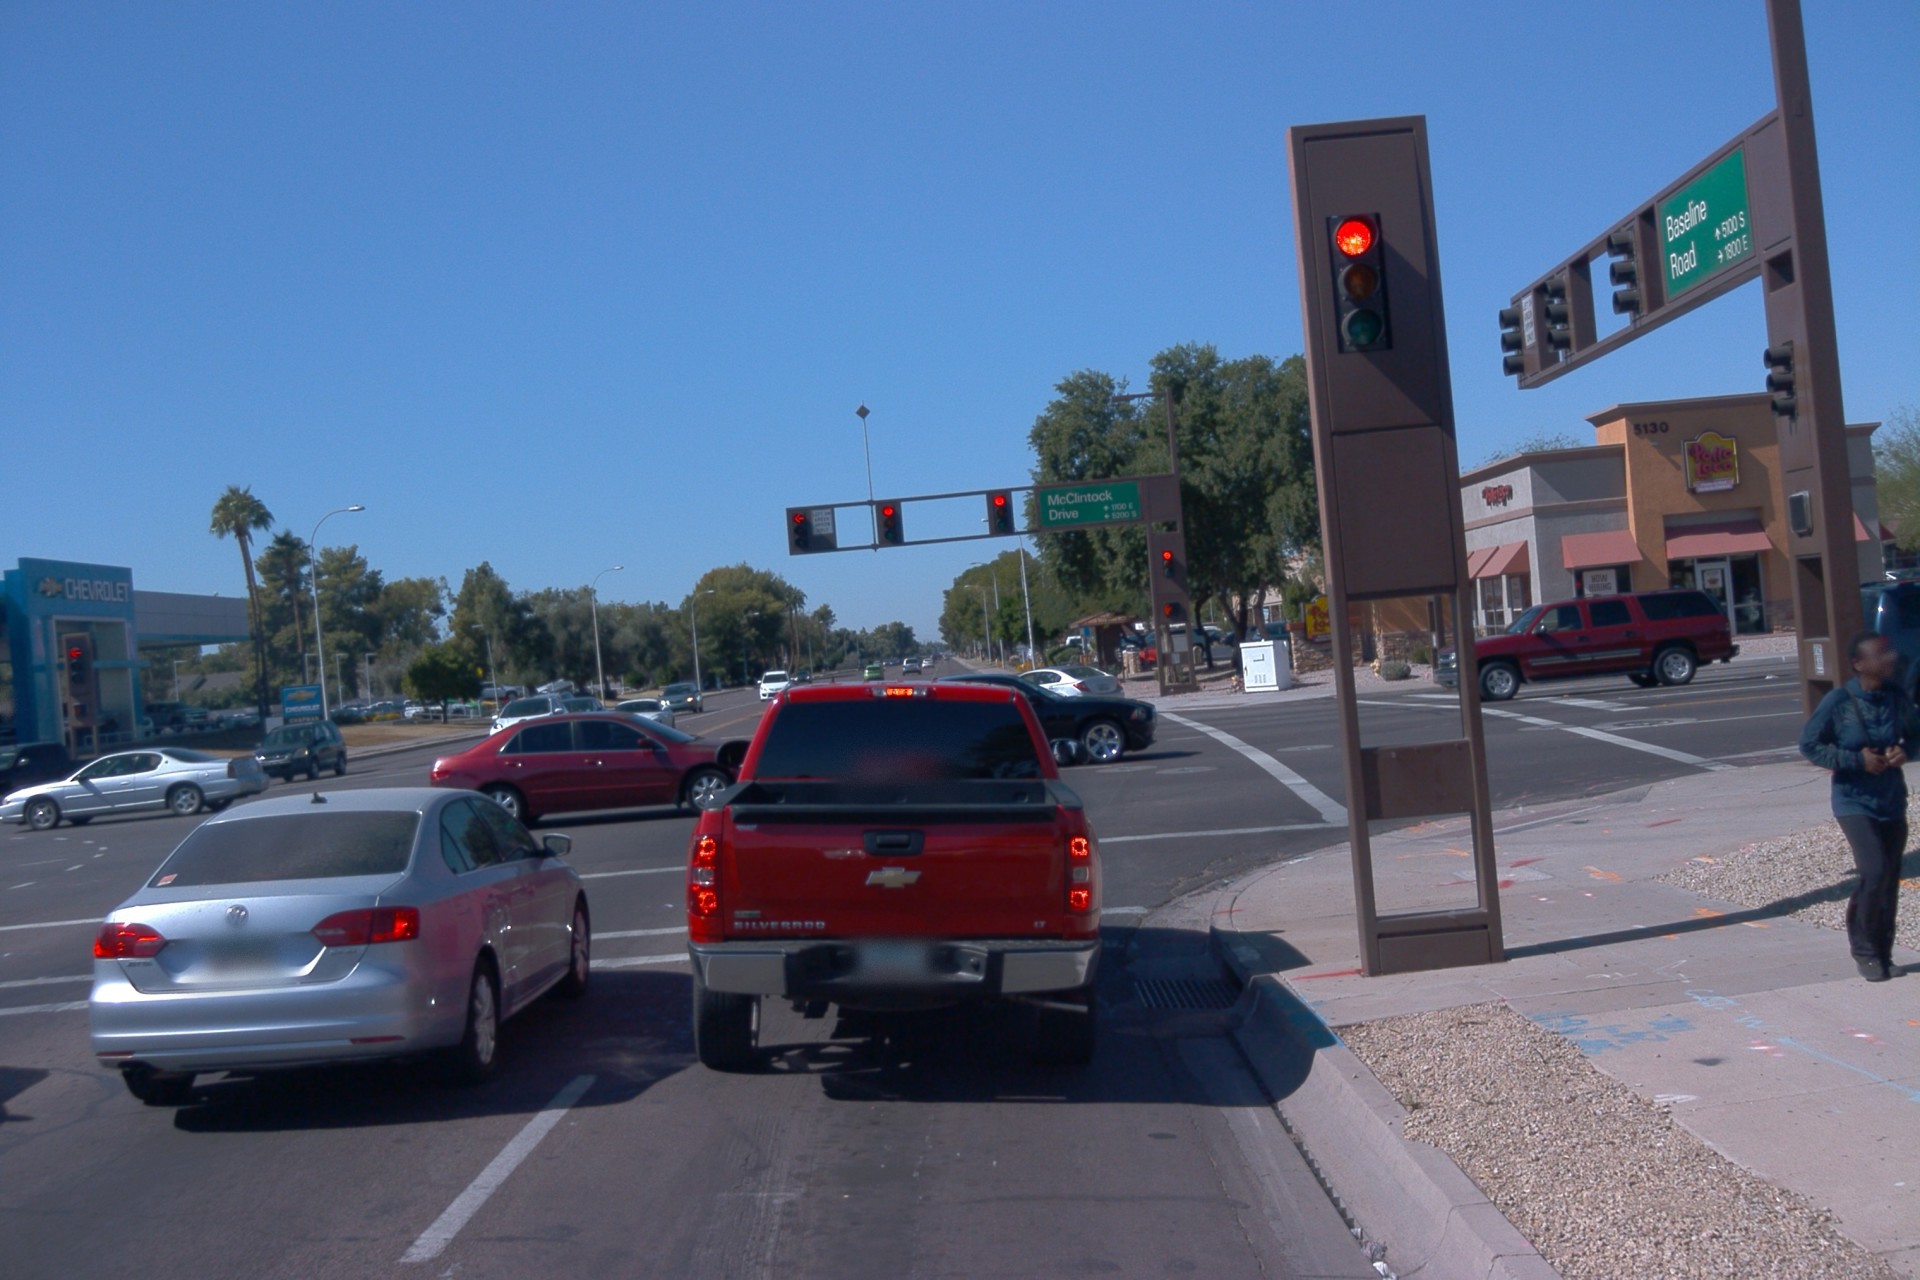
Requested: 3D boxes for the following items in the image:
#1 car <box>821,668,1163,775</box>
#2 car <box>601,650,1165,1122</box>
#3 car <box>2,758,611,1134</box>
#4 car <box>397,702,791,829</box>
[{"bbox_3d":[0.478,1.209,31.537,5.004,1.529,1.998,1,-1,1],"label":"car"},{"bbox_3d":[-0.382,1.162,12.341,2.538,2.120,5.758,1,-1,-1],"label":"car"},{"bbox_3d":[-3.238,1.470,11.336,1.920,1.450,4.335,1,-1,0],"label":"car"},{"bbox_3d":[-4.753,1.626,27.559,4.832,1.530,2.015,1,-1,1],"label":"car"}]
